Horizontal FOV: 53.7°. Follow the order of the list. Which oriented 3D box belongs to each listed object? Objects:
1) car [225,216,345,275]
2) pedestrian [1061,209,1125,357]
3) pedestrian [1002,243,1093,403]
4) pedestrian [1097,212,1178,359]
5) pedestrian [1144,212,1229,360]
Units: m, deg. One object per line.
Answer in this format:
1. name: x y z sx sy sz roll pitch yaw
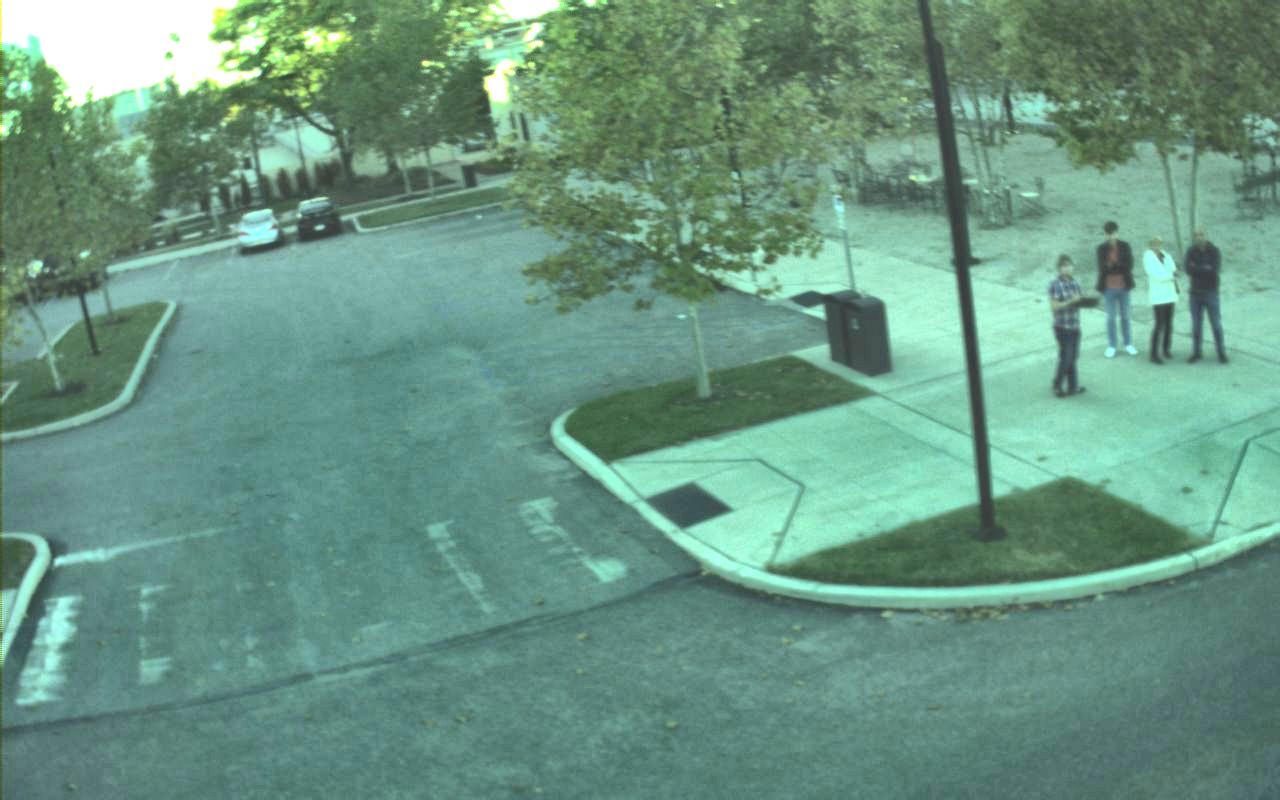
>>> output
1. car: -13.901 -5.993 47.381 4.665 1.617 1.981 -6 16 -18
2. pedestrian: 6.214 -1.590 16.377 0.764 1.853 0.790 6 16 25
3. pedestrian: 5.060 -0.955 15.055 0.771 1.803 0.797 -5 15 -15
4. pedestrian: 6.694 -1.525 15.871 0.810 1.779 0.774 -14 20 -41
5. pedestrian: 7.212 -1.479 15.359 0.806 1.807 0.788 -2 15 -4
